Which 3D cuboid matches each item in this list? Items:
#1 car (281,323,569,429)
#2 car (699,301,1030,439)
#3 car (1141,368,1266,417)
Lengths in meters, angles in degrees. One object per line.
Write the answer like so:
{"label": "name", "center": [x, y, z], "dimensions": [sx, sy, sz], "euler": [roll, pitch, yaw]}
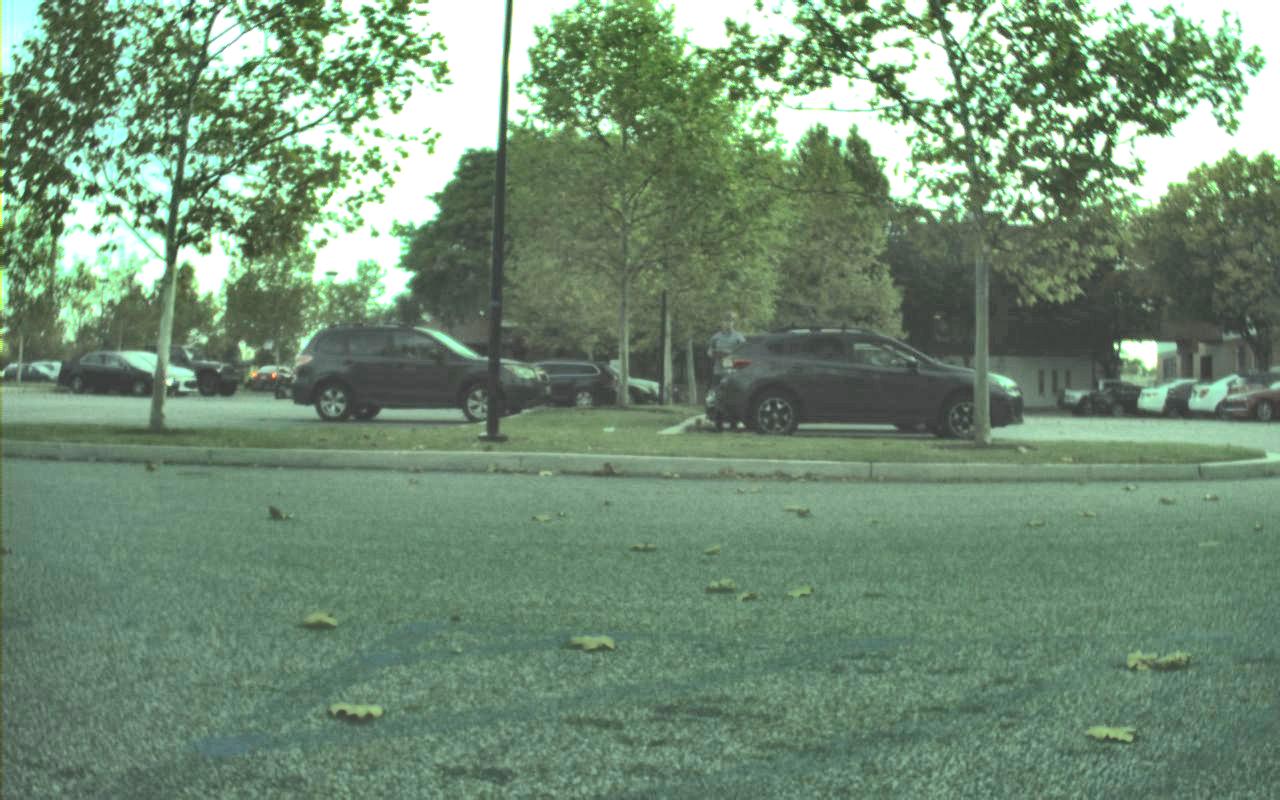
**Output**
{"label": "car", "center": [-3.722, -0.437, 21.660], "dimensions": [4.709, 1.703, 2.009], "euler": [1, 1, 6]}
{"label": "car", "center": [3.167, -0.418, 17.994], "dimensions": [4.603, 1.853, 1.997], "euler": [1, 1, 3]}
{"label": "car", "center": [20.711, -0.181, 42.652], "dimensions": [4.569, 1.719, 2.001], "euler": [1, 1, 9]}
